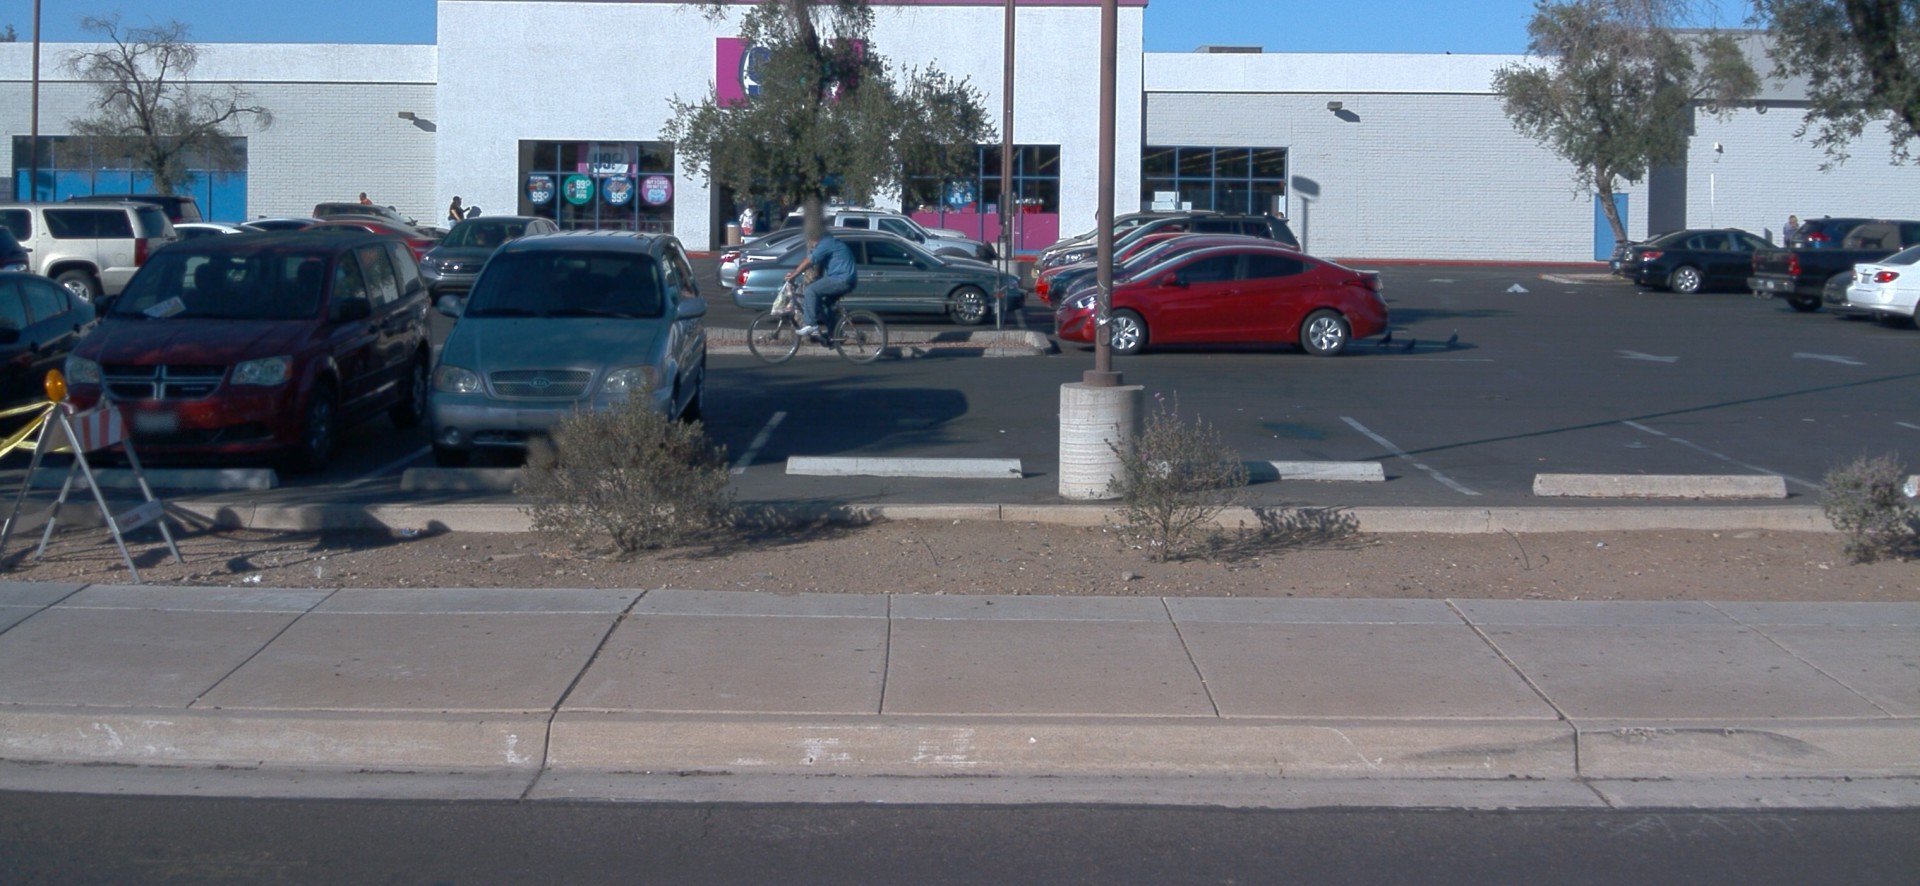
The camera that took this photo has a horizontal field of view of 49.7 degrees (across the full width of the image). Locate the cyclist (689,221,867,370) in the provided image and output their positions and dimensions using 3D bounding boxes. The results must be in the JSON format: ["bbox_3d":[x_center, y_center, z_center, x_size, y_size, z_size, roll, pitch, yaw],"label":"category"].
[{"bbox_3d":[-2.178,-1.792,25.014,2.031,1.760,0.990,0,1,1],"label":"cyclist"}]

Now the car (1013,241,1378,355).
[{"bbox_3d":[3.061,-1.967,27.693,4.630,1.457,2.022,0,4,-2],"label":"car"}]

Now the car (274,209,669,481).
[{"bbox_3d":[-3.754,-0.931,16.970,2.293,1.883,5.010,0,5,-3],"label":"car"}]

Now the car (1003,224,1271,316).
[{"bbox_3d":[3.064,-3.066,36.599,4.527,1.567,2.038,0,3,-2],"label":"car"}]

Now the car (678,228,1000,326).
[{"bbox_3d":[-1.866,-2.690,33.383,4.999,1.507,2.140,0,4,1],"label":"car"}]

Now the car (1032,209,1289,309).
[{"bbox_3d":[3.753,-3.503,39.406,4.671,1.838,2.036,0,3,-2],"label":"car"}]

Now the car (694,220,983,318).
[{"bbox_3d":[-2.084,-3.067,36.347,4.906,1.667,2.177,0,3,-2],"label":"car"}]

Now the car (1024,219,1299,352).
[{"bbox_3d":[2.920,-2.343,30.608,3.873,1.888,1.794,0,3,-2],"label":"car"}]
